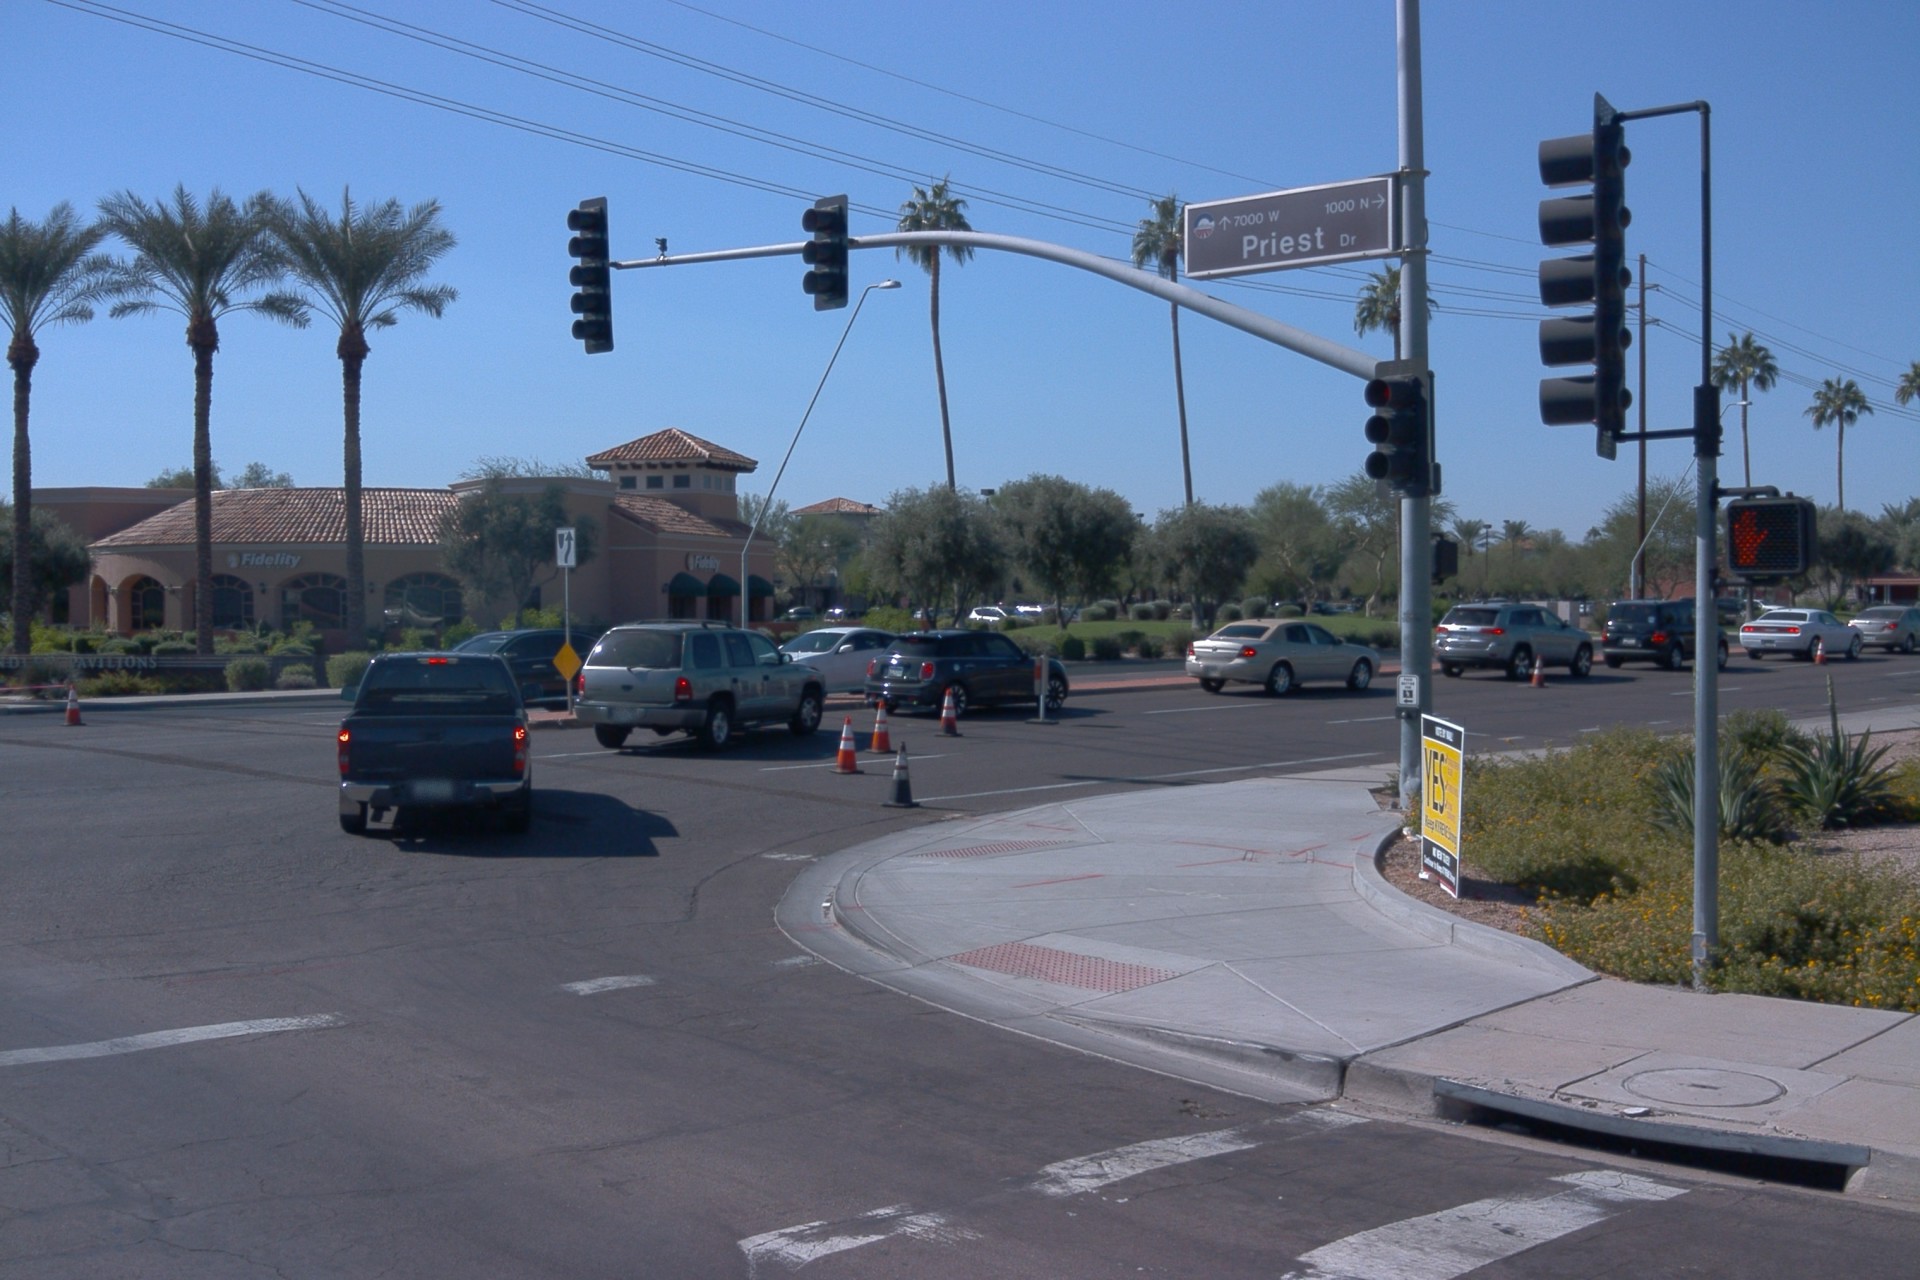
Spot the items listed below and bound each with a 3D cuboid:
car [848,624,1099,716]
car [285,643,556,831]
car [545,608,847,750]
[{"bbox_3d":[0.292,0.514,35.745,1.931,1.480,4.287,1,0,42],"label":"car"},{"bbox_3d":[-5.184,0.857,20.606,2.147,1.630,4.952,1,0,-9],"label":"car"},{"bbox_3d":[-3.650,0.524,29.751,2.175,1.830,4.919,1,0,21],"label":"car"}]
